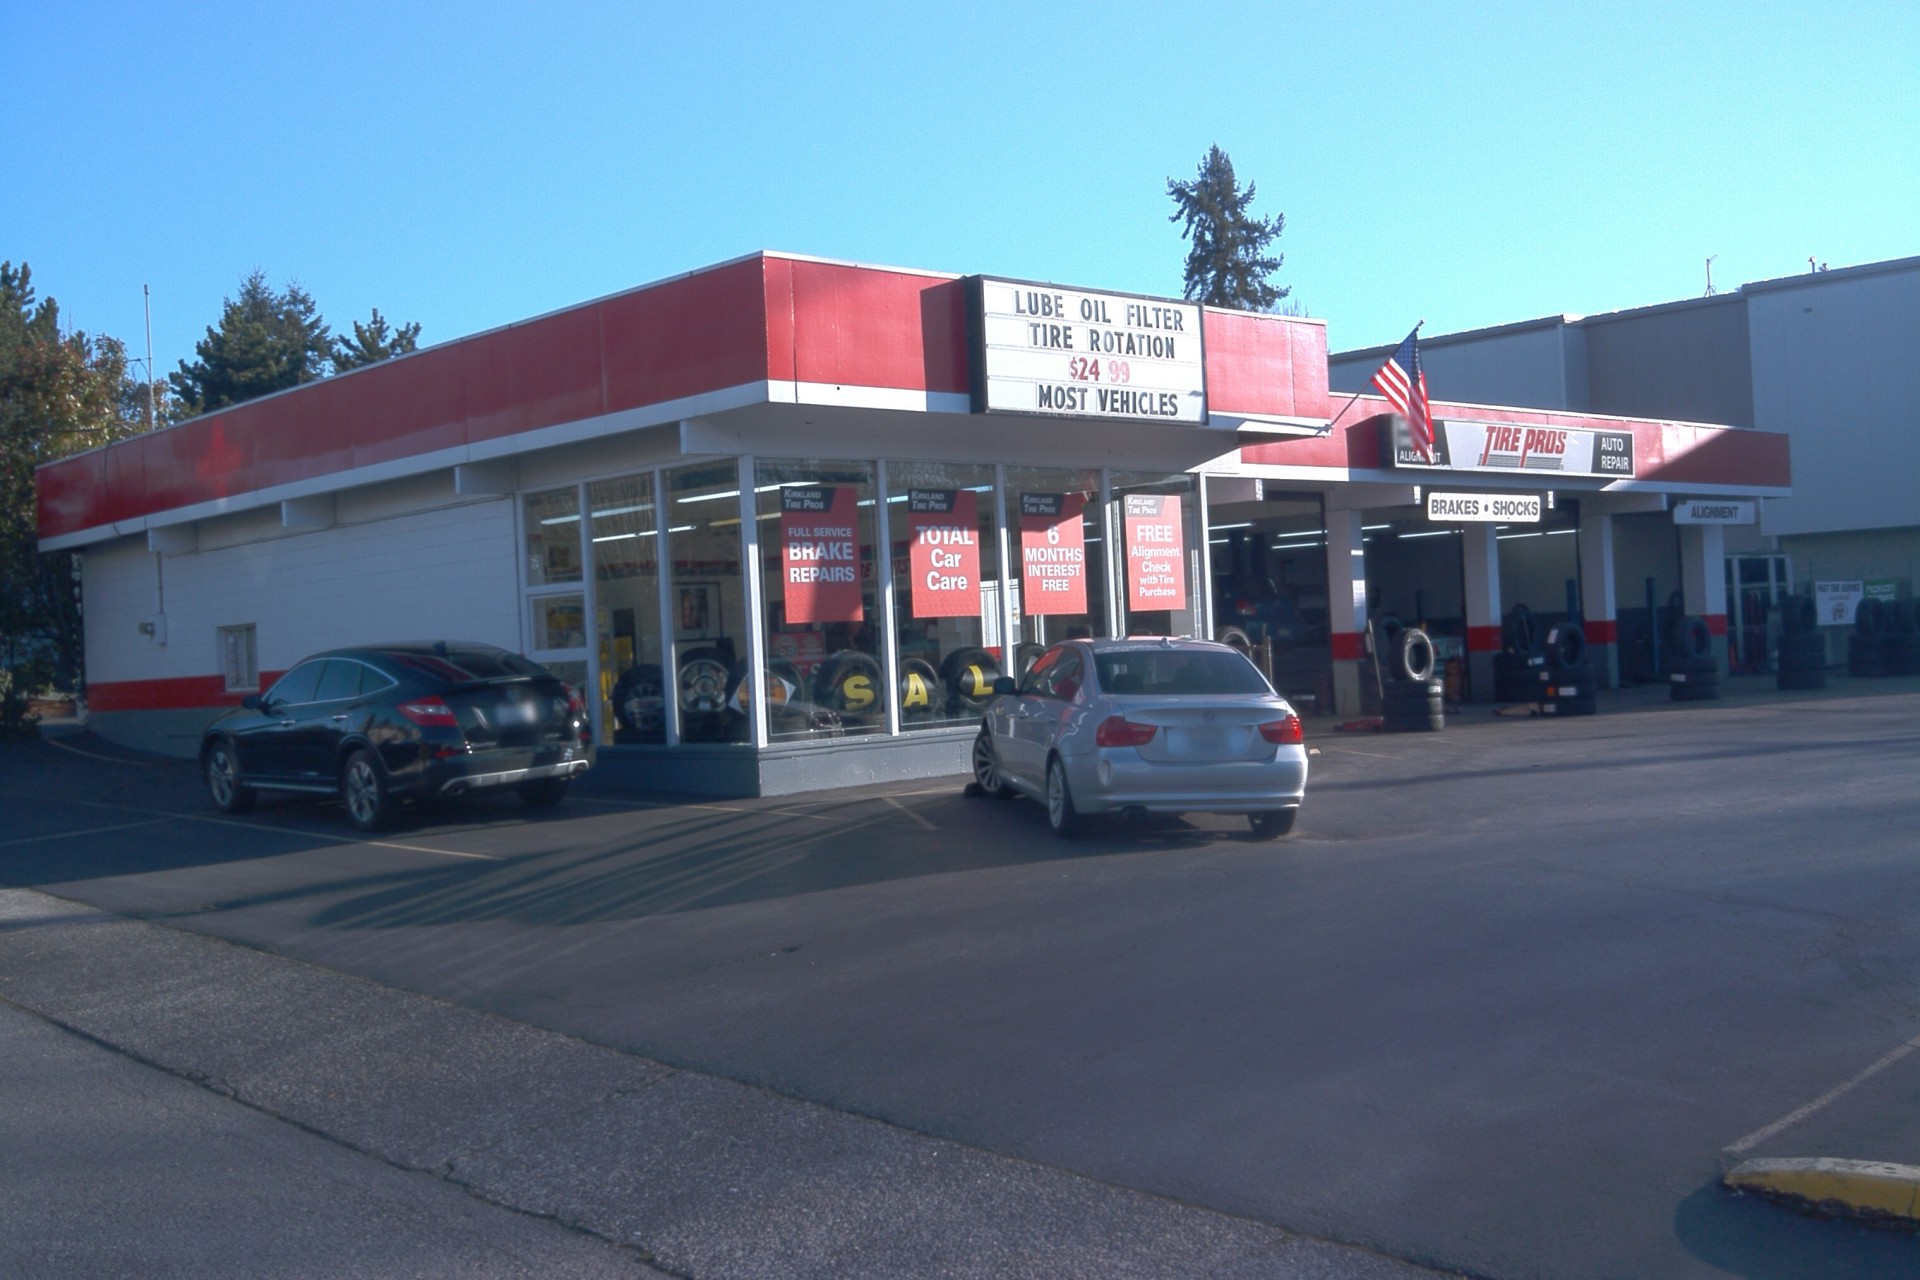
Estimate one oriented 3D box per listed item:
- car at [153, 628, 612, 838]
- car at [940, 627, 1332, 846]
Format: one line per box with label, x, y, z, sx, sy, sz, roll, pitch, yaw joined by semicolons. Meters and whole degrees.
car;-5.435;0.730;18.816;2.054;1.640;4.935;0;1;-42
car;1.174;0.627;15.995;1.837;1.440;4.597;0;0;-11
